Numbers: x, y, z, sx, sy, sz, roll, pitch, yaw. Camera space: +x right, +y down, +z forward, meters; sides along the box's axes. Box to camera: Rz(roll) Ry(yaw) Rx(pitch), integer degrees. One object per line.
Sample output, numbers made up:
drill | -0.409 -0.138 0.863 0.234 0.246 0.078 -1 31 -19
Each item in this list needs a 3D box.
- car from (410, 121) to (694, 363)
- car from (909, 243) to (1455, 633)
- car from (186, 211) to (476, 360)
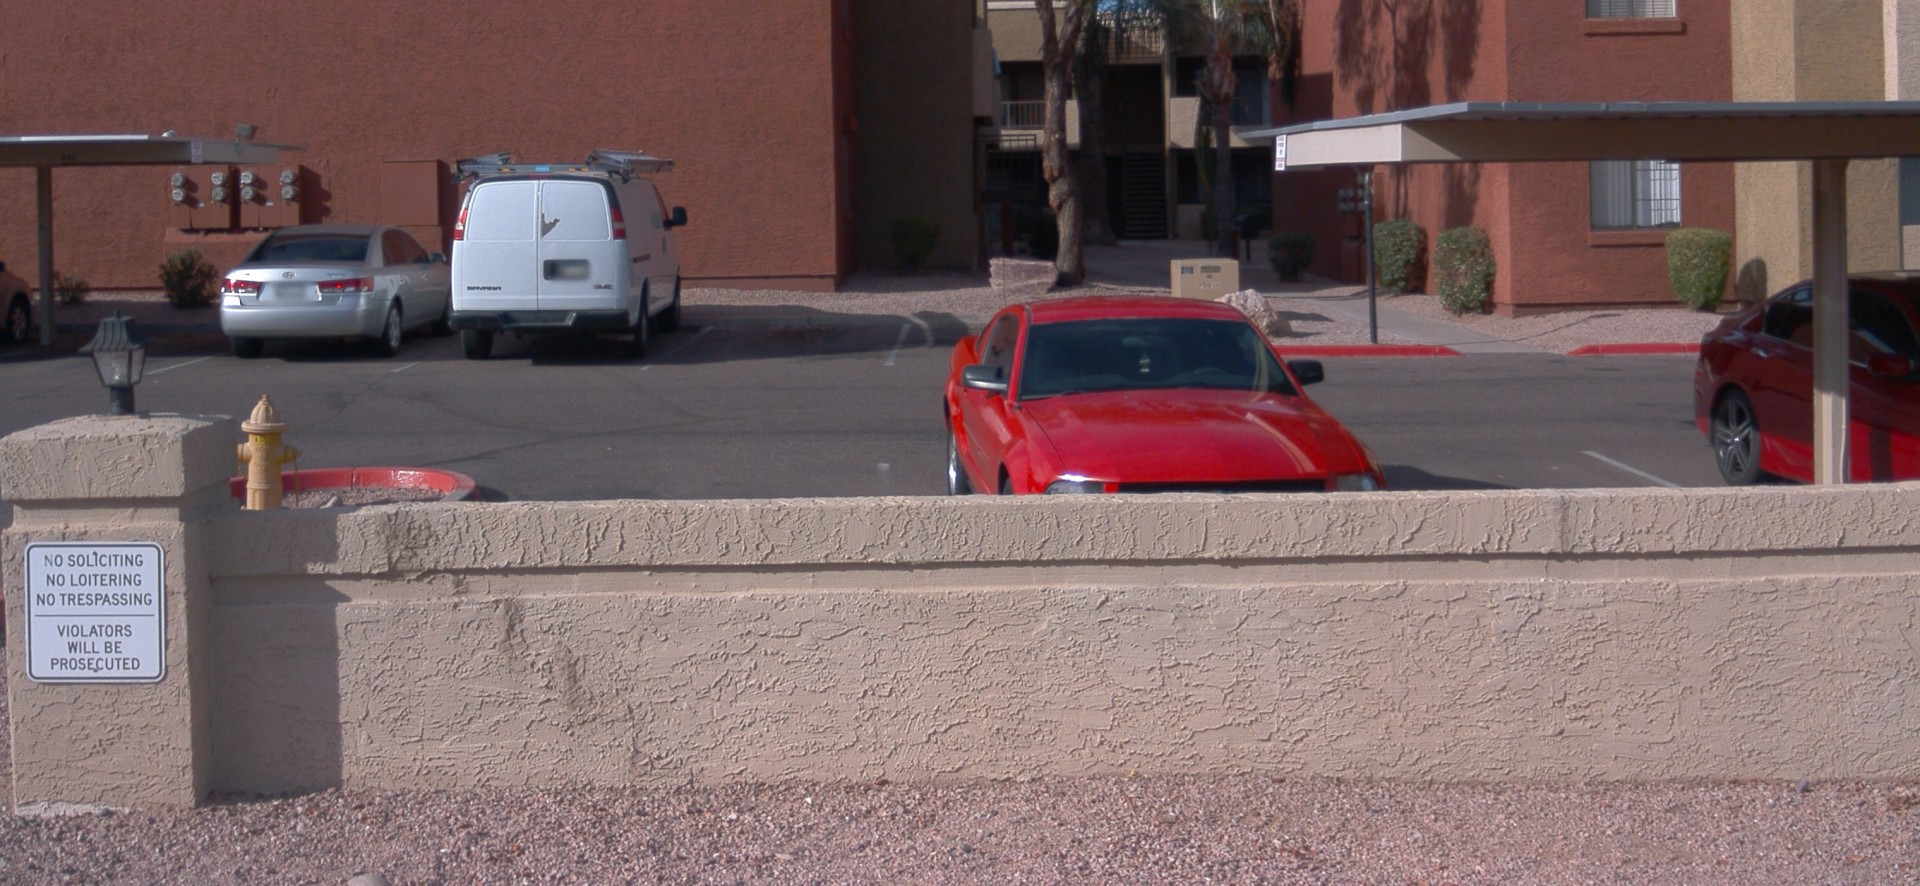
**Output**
car | -4.634 -2.373 24.698 2.349 2.513 5.712 0 4 -1
car | 0.938 -0.251 11.635 2.191 1.694 4.789 -1 5 -4
car | -7.214 -1.883 24.469 2.004 1.575 4.455 0 5 1
